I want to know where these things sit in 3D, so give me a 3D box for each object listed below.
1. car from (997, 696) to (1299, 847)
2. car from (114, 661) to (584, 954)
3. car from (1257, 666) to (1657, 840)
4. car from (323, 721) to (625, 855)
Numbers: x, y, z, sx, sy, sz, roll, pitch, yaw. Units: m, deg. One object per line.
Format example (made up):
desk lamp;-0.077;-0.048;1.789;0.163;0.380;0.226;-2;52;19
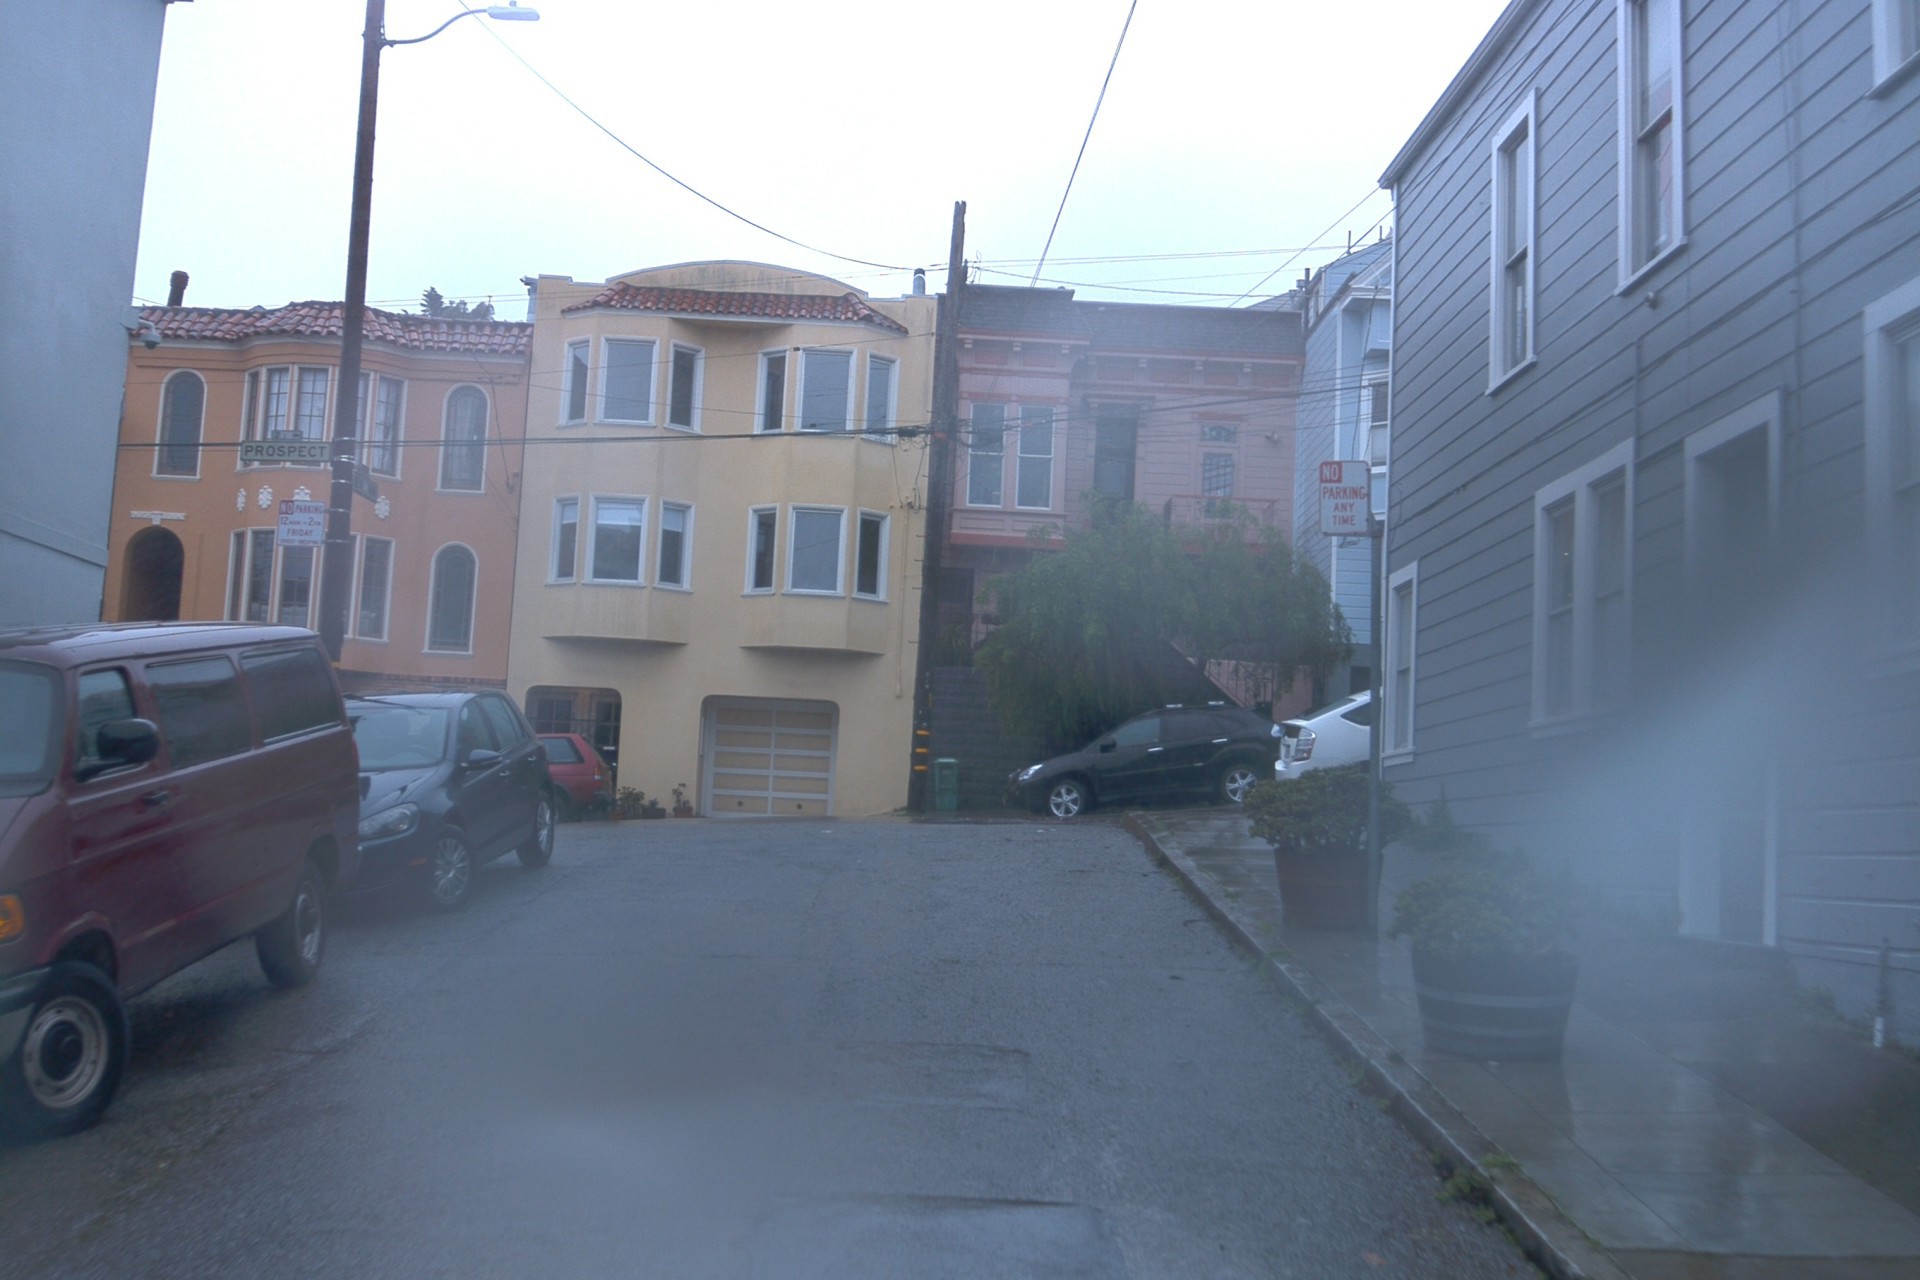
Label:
car;2.957;2.074;33.126;4.626;2.210;1.958;1;0;0
car;-4.286;1.085;15.251;2.071;1.750;4.282;1;0;2
car;5.770;1.296;24.347;4.209;1.850;2.036;1;0;1
car;-7.729;2.349;33.066;4.396;1.930;1.945;1;0;-1
